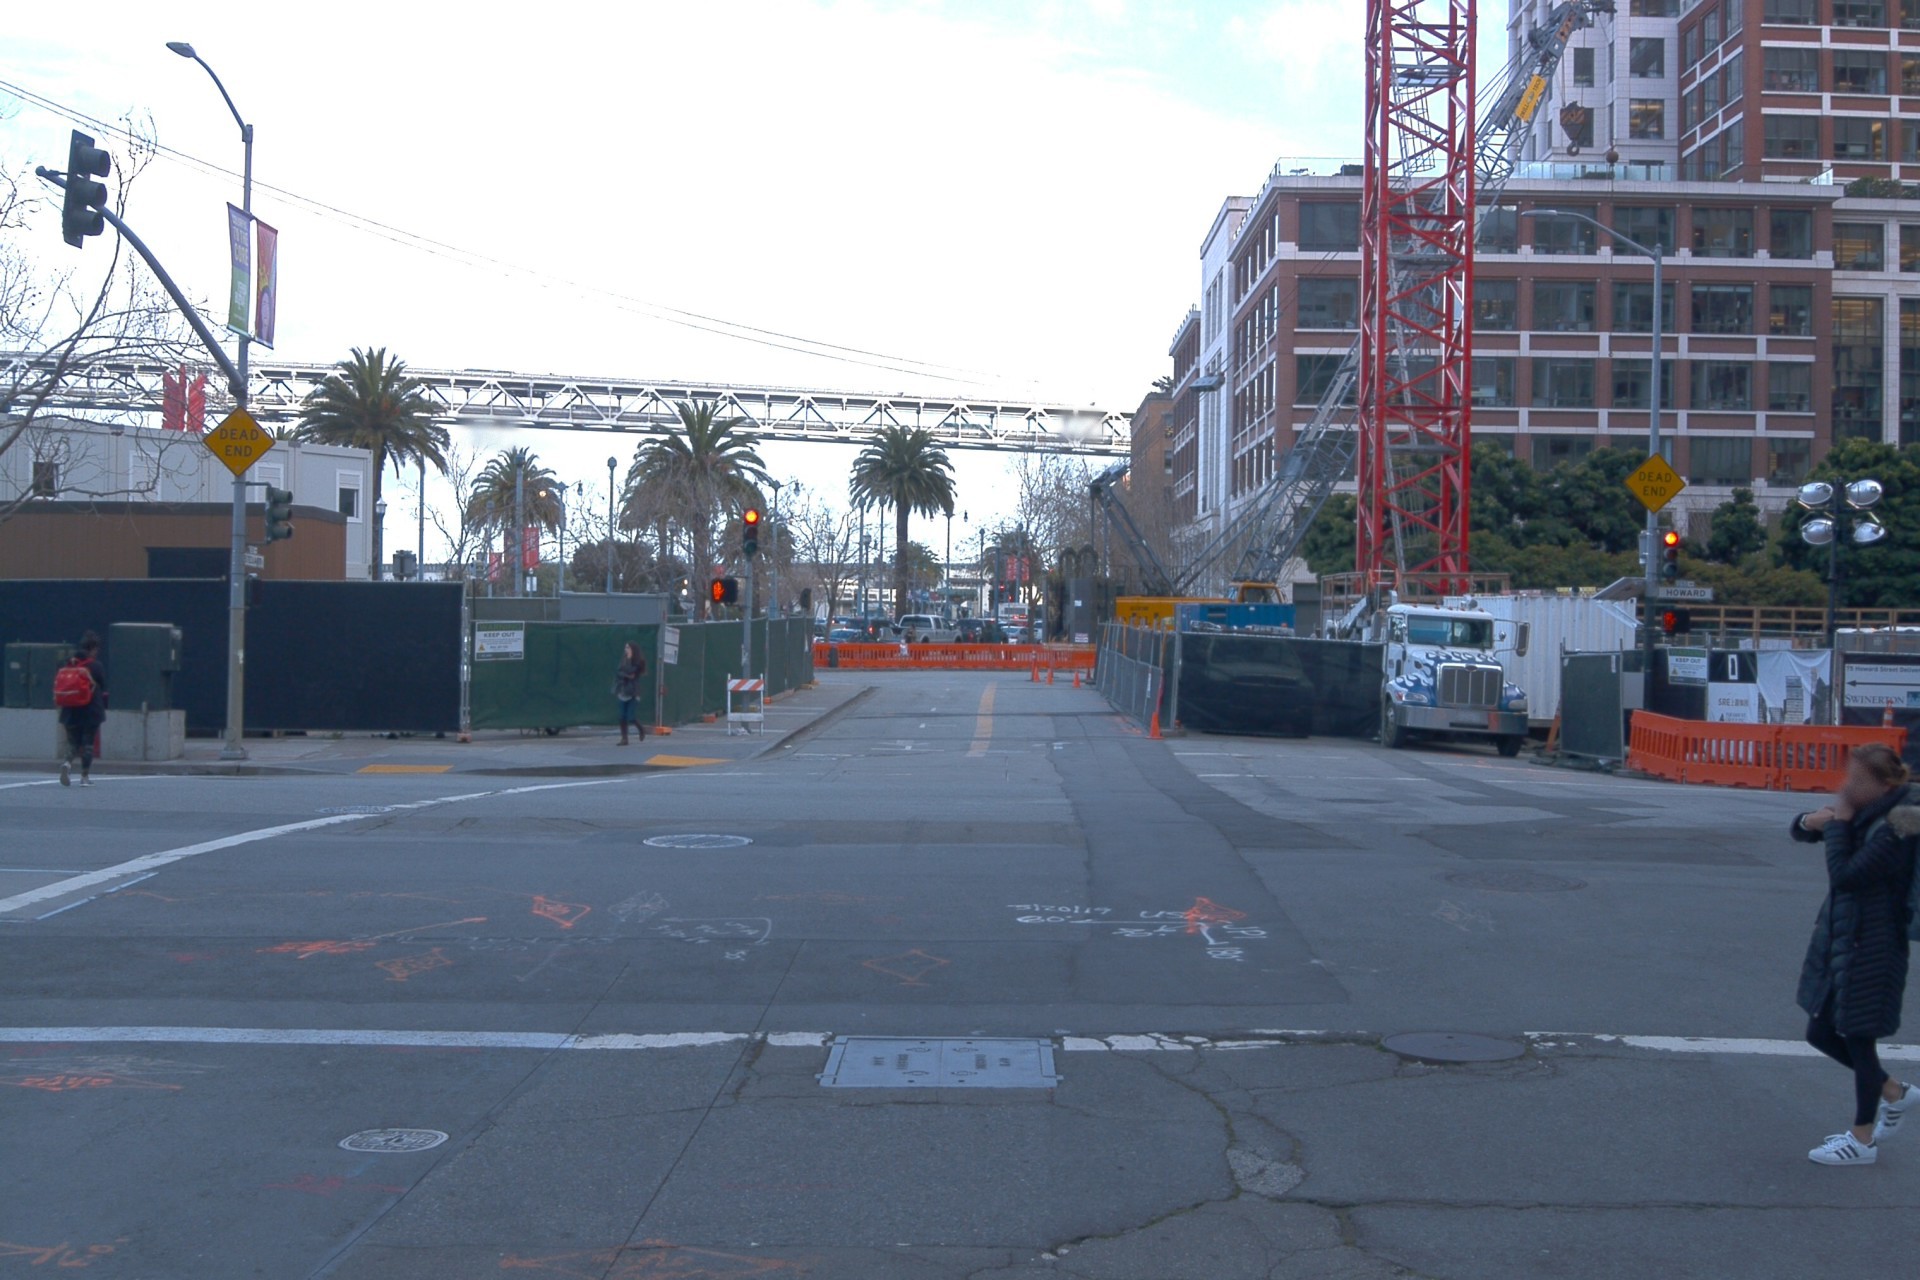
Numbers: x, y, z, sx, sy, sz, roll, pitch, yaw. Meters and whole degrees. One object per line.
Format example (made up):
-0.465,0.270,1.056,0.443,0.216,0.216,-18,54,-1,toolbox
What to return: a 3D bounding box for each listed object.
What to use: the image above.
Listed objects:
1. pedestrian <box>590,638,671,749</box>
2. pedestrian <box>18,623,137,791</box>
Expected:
-5.228,0.831,32.443,0.848,1.720,1.091,1,0,19,pedestrian
-9.466,0.698,21.971,0.770,1.760,1.198,0,0,-2,pedestrian
